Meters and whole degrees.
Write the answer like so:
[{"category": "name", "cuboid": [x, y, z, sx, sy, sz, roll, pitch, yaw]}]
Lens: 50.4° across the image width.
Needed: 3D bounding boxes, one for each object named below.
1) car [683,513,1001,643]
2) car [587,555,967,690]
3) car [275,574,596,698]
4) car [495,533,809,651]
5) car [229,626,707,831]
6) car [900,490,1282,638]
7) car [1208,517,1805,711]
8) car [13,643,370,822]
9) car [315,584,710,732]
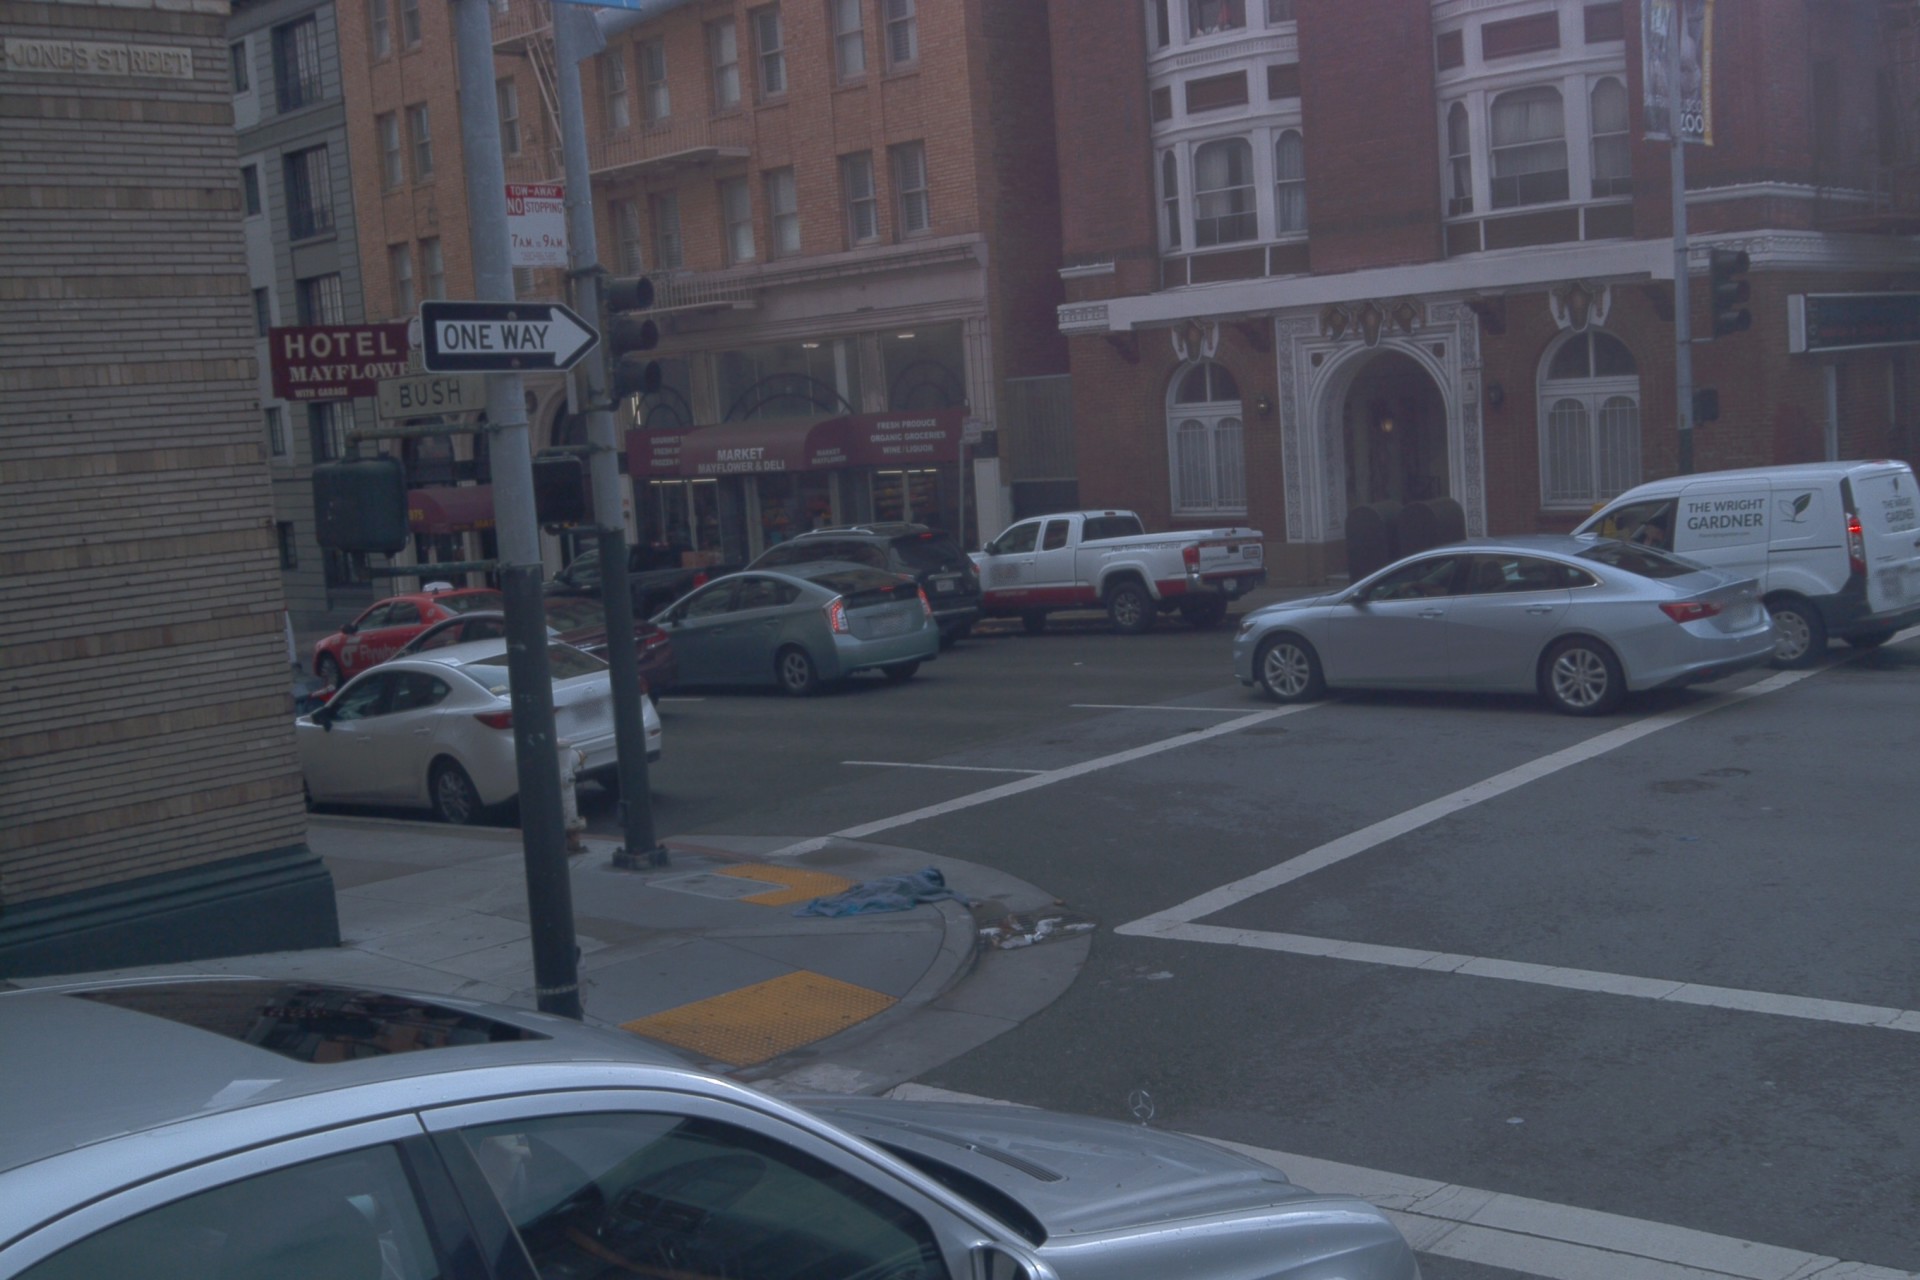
[{"category": "car", "cuboid": [-1.750, -0.865, 28.899, 1.865, 1.700, 4.624, 0, 1, -45]}, {"category": "car", "cuboid": [-2.268, -0.249, 24.441, 4.500, 1.470, 2.058, 2, 1, 44]}, {"category": "car", "cuboid": [-7.881, -0.115, 30.382, 4.902, 1.680, 2.362, 2, 1, 44]}, {"category": "car", "cuboid": [-5.636, -0.878, 36.740, 5.917, 1.960, 2.408, 2, 1, 43]}, {"category": "car", "cuboid": [-4.415, 0.671, 17.945, 4.290, 1.490, 2.048, 2, 1, 43]}, {"category": "car", "cuboid": [1.781, -1.064, 29.323, 5.308, 1.950, 2.112, 2, 1, 43]}, {"category": "car", "cuboid": [4.690, -0.260, 18.003, 4.727, 1.500, 1.880, 2, 1, 43]}, {"category": "car", "cuboid": [-8.234, 0.890, 21.688, 4.190, 1.610, 1.891, 2, 1, 43]}, {"category": "car", "cuboid": [-5.161, 0.143, 23.207, 4.617, 1.480, 2.037, 2, 1, 41]}]
